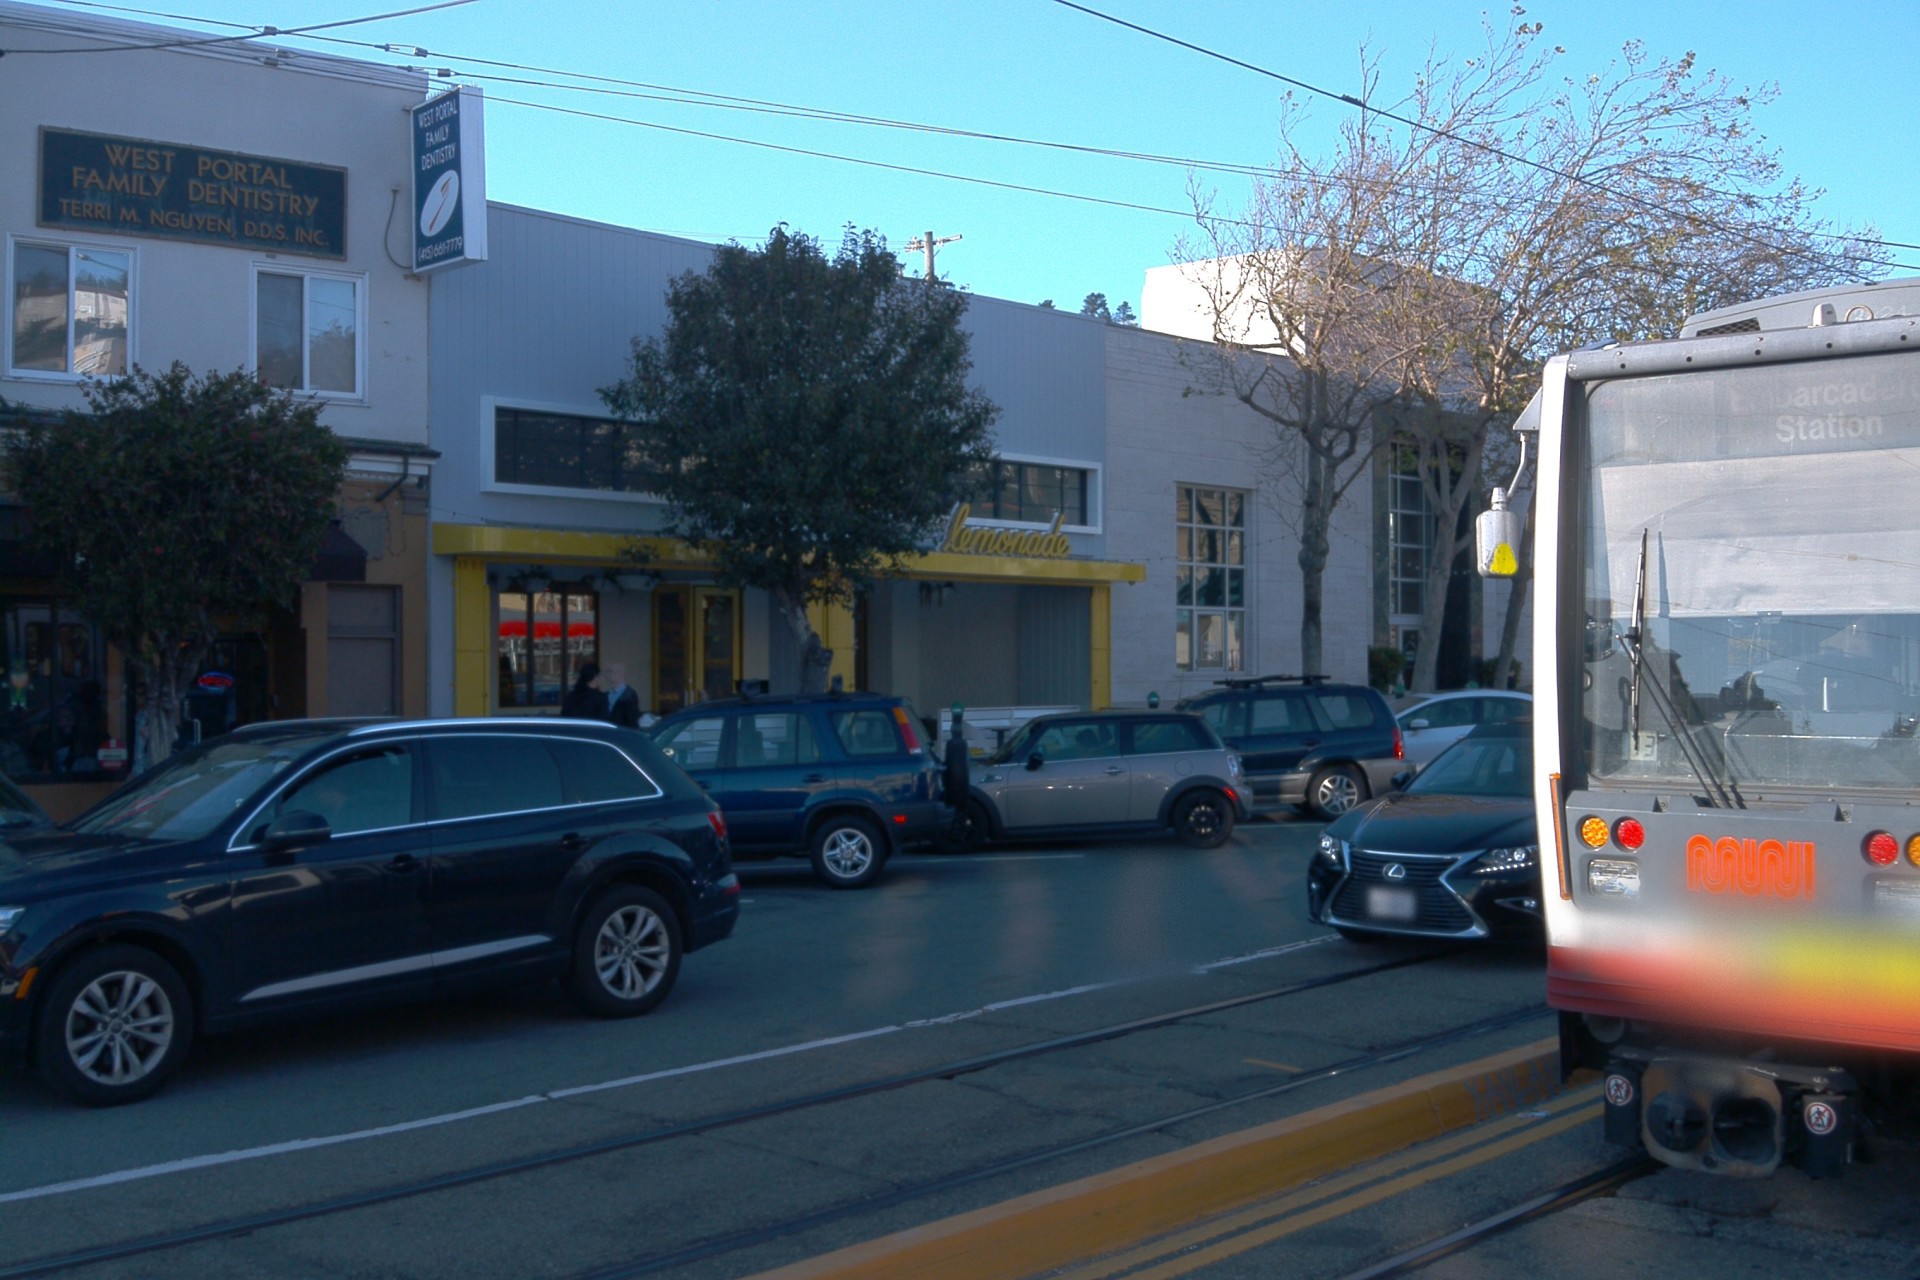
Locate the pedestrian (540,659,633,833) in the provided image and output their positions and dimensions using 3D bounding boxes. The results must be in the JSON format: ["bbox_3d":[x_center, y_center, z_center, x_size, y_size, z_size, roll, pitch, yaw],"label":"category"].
[{"bbox_3d":[-3.954,1.099,21.931,0.867,1.790,0.565,0,0,44],"label":"pedestrian"}]

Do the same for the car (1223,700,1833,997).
[{"bbox_3d":[4.195,1.301,14.753,2.252,1.570,4.825,0,0,42],"label":"car"}]

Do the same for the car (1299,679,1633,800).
[{"bbox_3d":[6.777,1.317,28.026,4.042,1.500,1.814,0,0,-3],"label":"car"}]

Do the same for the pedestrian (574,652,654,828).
[{"bbox_3d":[-3.871,1.102,23.172,0.568,1.920,0.732,0,0,-43],"label":"pedestrian"}]

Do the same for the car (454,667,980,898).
[{"bbox_3d":[-2.063,1.228,18.649,4.415,1.900,2.081,0,0,1],"label":"car"}]

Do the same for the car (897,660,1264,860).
[{"bbox_3d":[1.261,1.204,21.493,3.614,1.950,1.902,0,0,4],"label":"car"}]

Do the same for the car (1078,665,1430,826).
[{"bbox_3d":[3.391,1.202,24.400,3.806,1.750,1.936,0,0,-3],"label":"car"}]

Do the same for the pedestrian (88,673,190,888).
[{"bbox_3d":[-7.868,1.323,19.862,0.786,1.990,0.581,0,0,38],"label":"pedestrian"}]
